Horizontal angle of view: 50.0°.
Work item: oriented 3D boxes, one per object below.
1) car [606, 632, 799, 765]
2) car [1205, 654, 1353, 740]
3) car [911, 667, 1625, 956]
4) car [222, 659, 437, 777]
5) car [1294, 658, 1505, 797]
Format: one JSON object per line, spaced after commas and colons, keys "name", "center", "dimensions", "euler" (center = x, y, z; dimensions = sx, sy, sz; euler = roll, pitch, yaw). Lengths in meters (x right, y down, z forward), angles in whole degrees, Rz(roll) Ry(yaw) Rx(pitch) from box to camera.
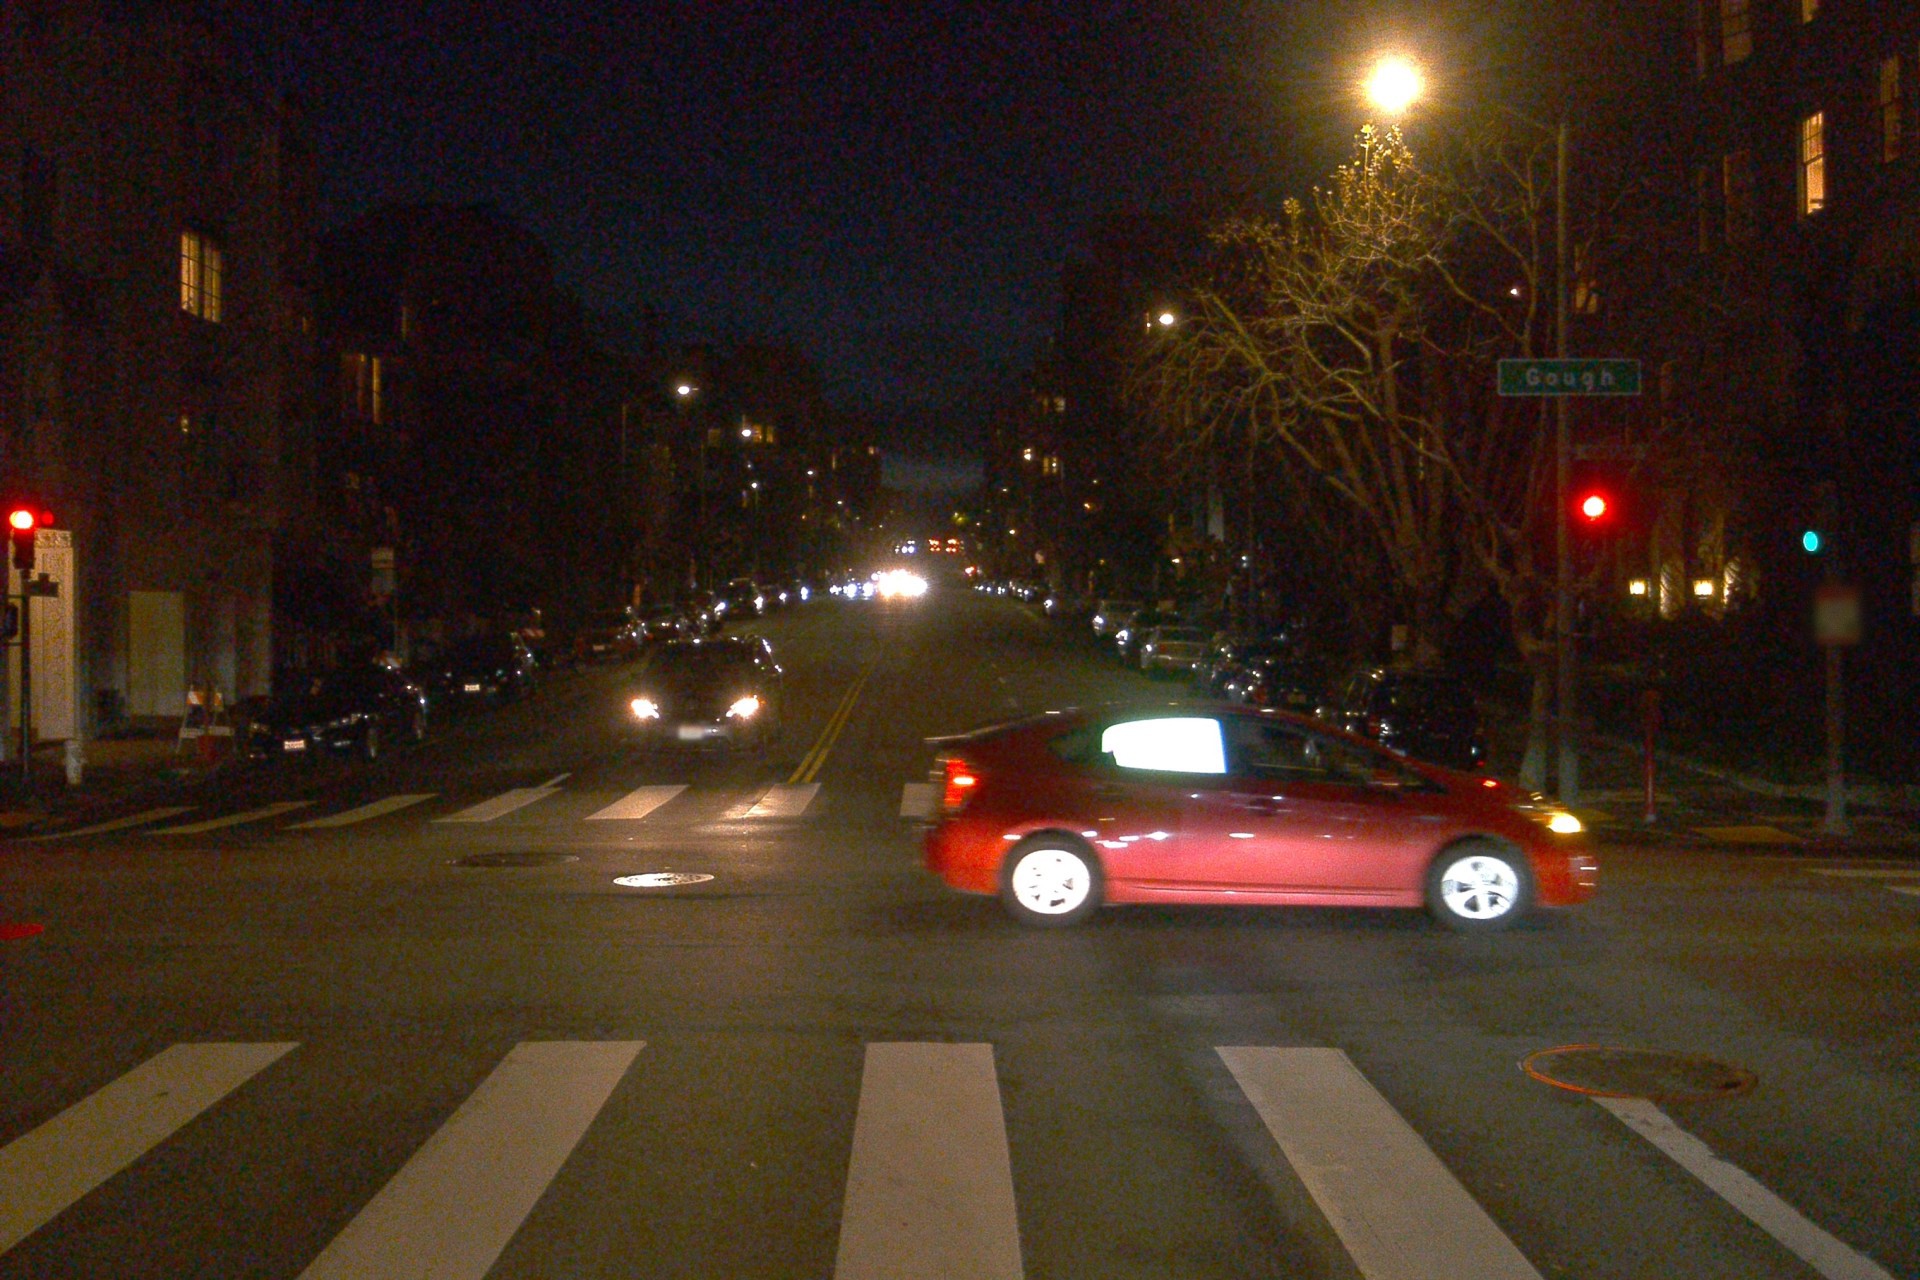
{"name": "car", "center": [-3.809, 0.814, 31.330], "dimensions": [2.293, 1.803, 4.677], "euler": [1, 0, 0]}
{"name": "car", "center": [5.808, 1.009, 37.910], "dimensions": [1.802, 1.404, 4.078], "euler": [1, 0, -4]}
{"name": "car", "center": [1.956, 1.112, 14.118], "dimensions": [4.543, 1.730, 1.915], "euler": [1, 0, -1]}
{"name": "car", "center": [-10.059, 1.194, 33.236], "dimensions": [2.045, 1.673, 4.519], "euler": [1, 0, 0]}
{"name": "car", "center": [6.075, 1.167, 28.922], "dimensions": [1.802, 1.714, 4.078], "euler": [1, 0, -4]}
